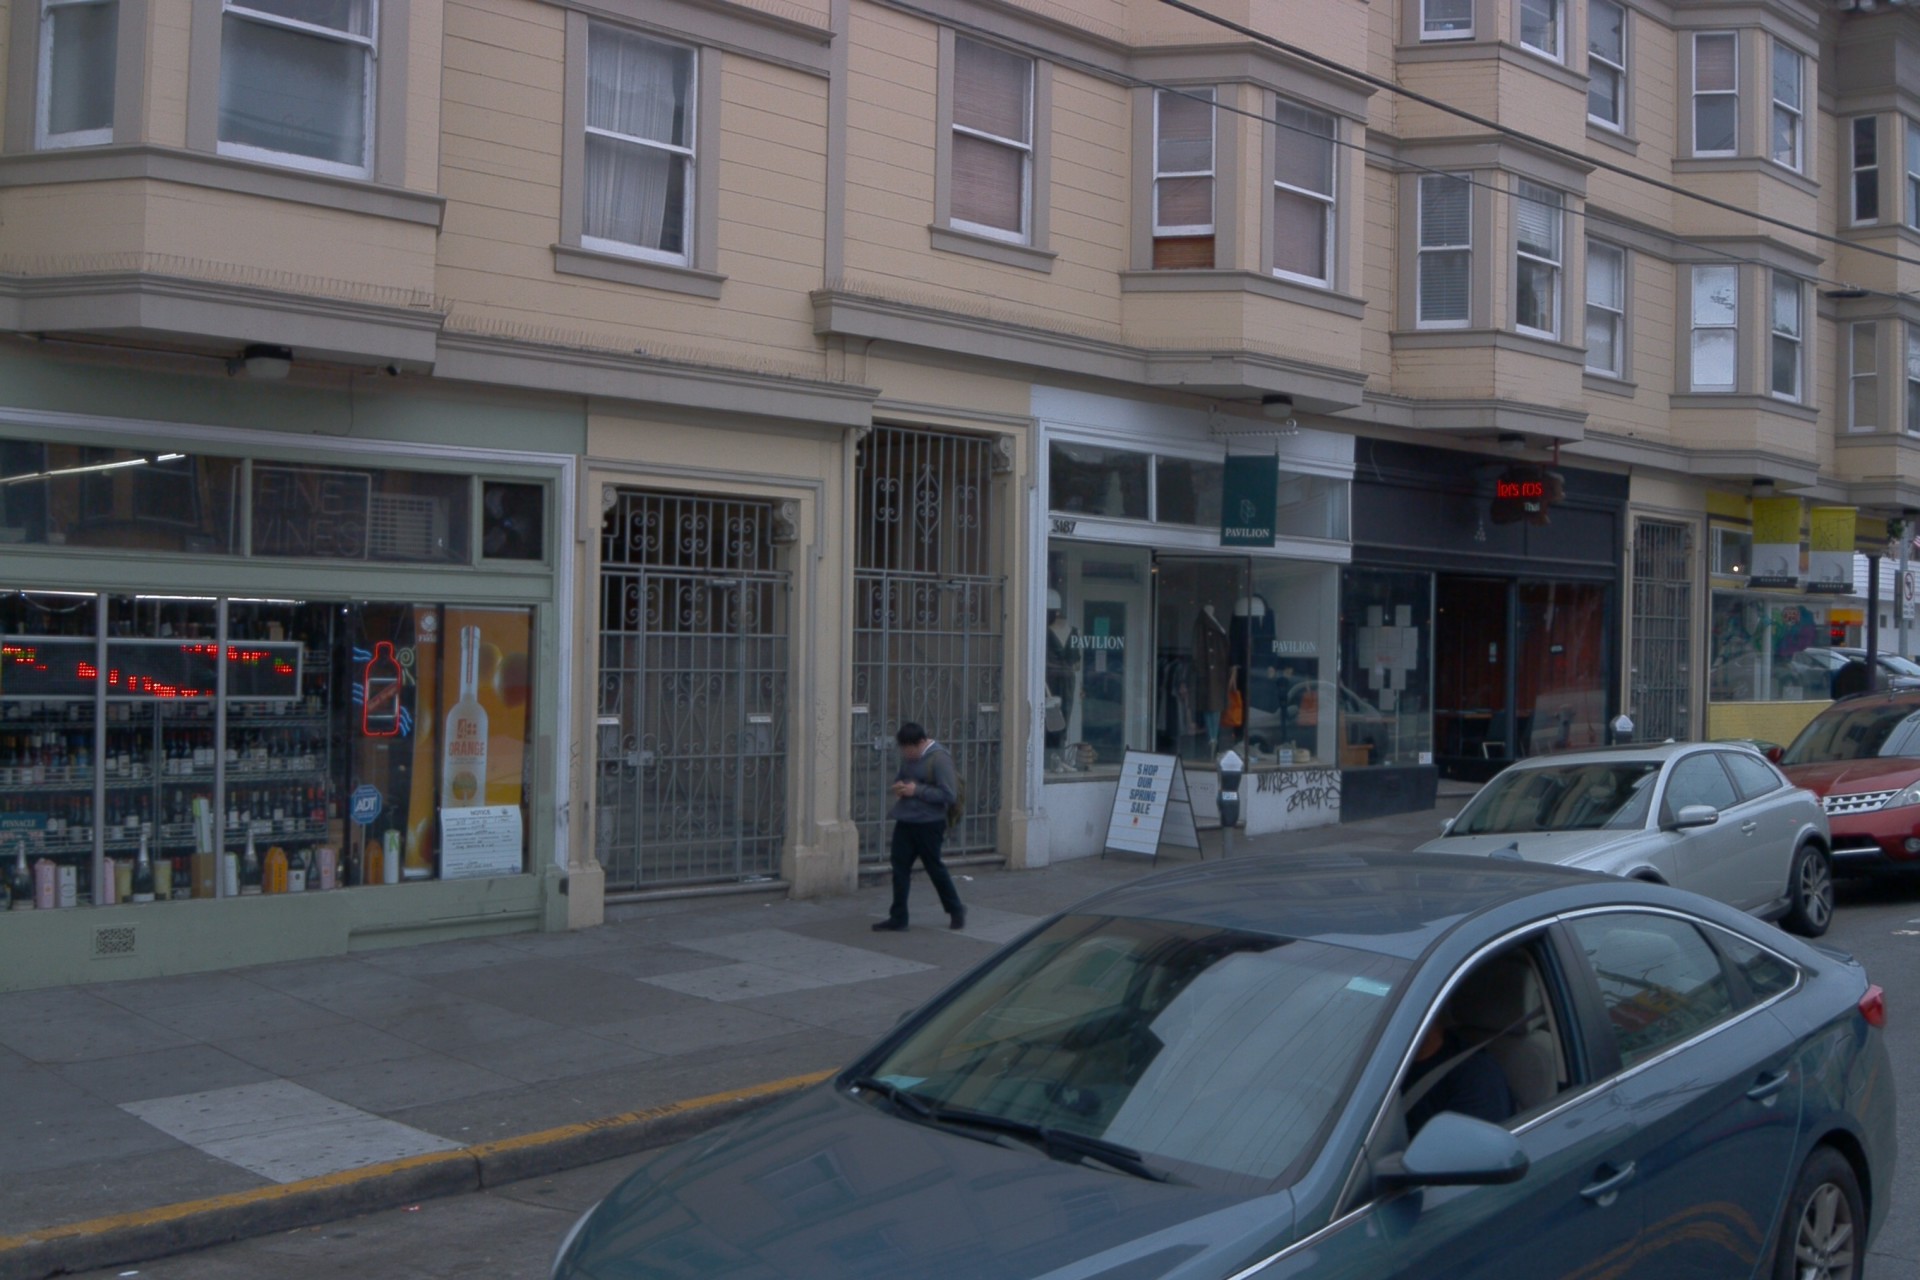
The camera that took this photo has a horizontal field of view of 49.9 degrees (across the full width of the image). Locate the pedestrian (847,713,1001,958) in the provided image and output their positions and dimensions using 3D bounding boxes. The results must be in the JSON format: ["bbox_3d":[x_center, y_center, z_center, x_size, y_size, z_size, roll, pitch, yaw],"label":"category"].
[{"bbox_3d":[-0.253,1.343,14.528,0.786,1.603,0.748,1,1,41],"label":"pedestrian"}]

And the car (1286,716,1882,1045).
[{"bbox_3d":[4.282,1.428,13.779,2.061,1.590,4.273,1,1,44],"label":"car"}]
